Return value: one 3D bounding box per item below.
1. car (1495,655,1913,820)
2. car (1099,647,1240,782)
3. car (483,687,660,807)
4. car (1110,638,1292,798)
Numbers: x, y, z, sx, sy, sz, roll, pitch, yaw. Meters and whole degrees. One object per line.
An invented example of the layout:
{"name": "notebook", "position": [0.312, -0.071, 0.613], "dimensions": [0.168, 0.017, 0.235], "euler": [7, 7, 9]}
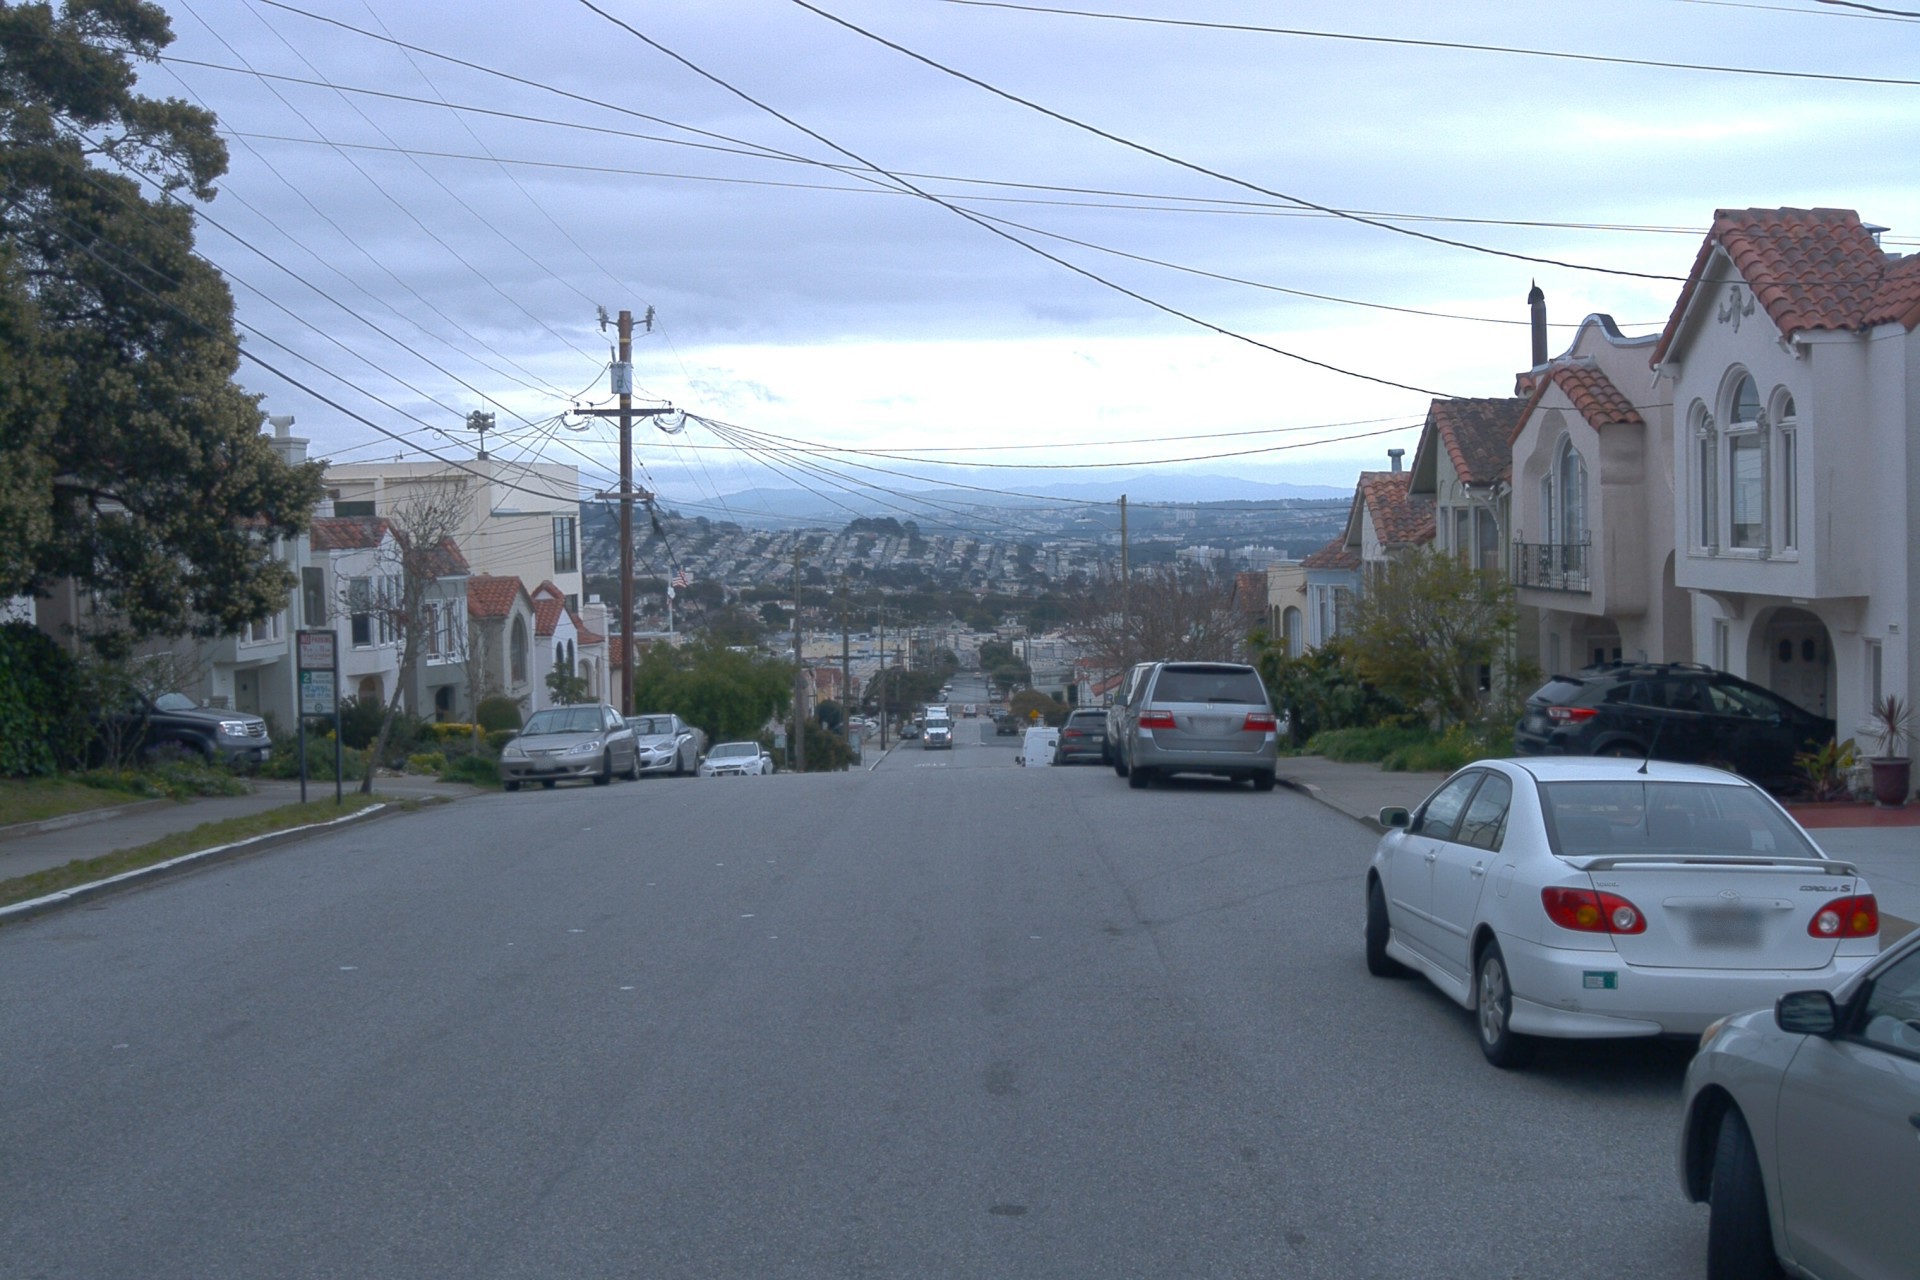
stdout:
{"name": "car", "position": [8.689, 1.107, 24.303], "dimensions": [4.223, 1.851, 1.973], "euler": [0, 0, -3]}
{"name": "car", "position": [3.546, 1.208, 35.602], "dimensions": [1.936, 2.170, 4.666], "euler": [0, 0, 0]}
{"name": "car", "position": [-6.477, 1.743, 34.857], "dimensions": [2.152, 1.800, 4.566], "euler": [0, 0, 0]}
{"name": "car", "position": [3.300, 1.006, 29.215], "dimensions": [2.082, 2.060, 5.186], "euler": [0, 0, 1]}
